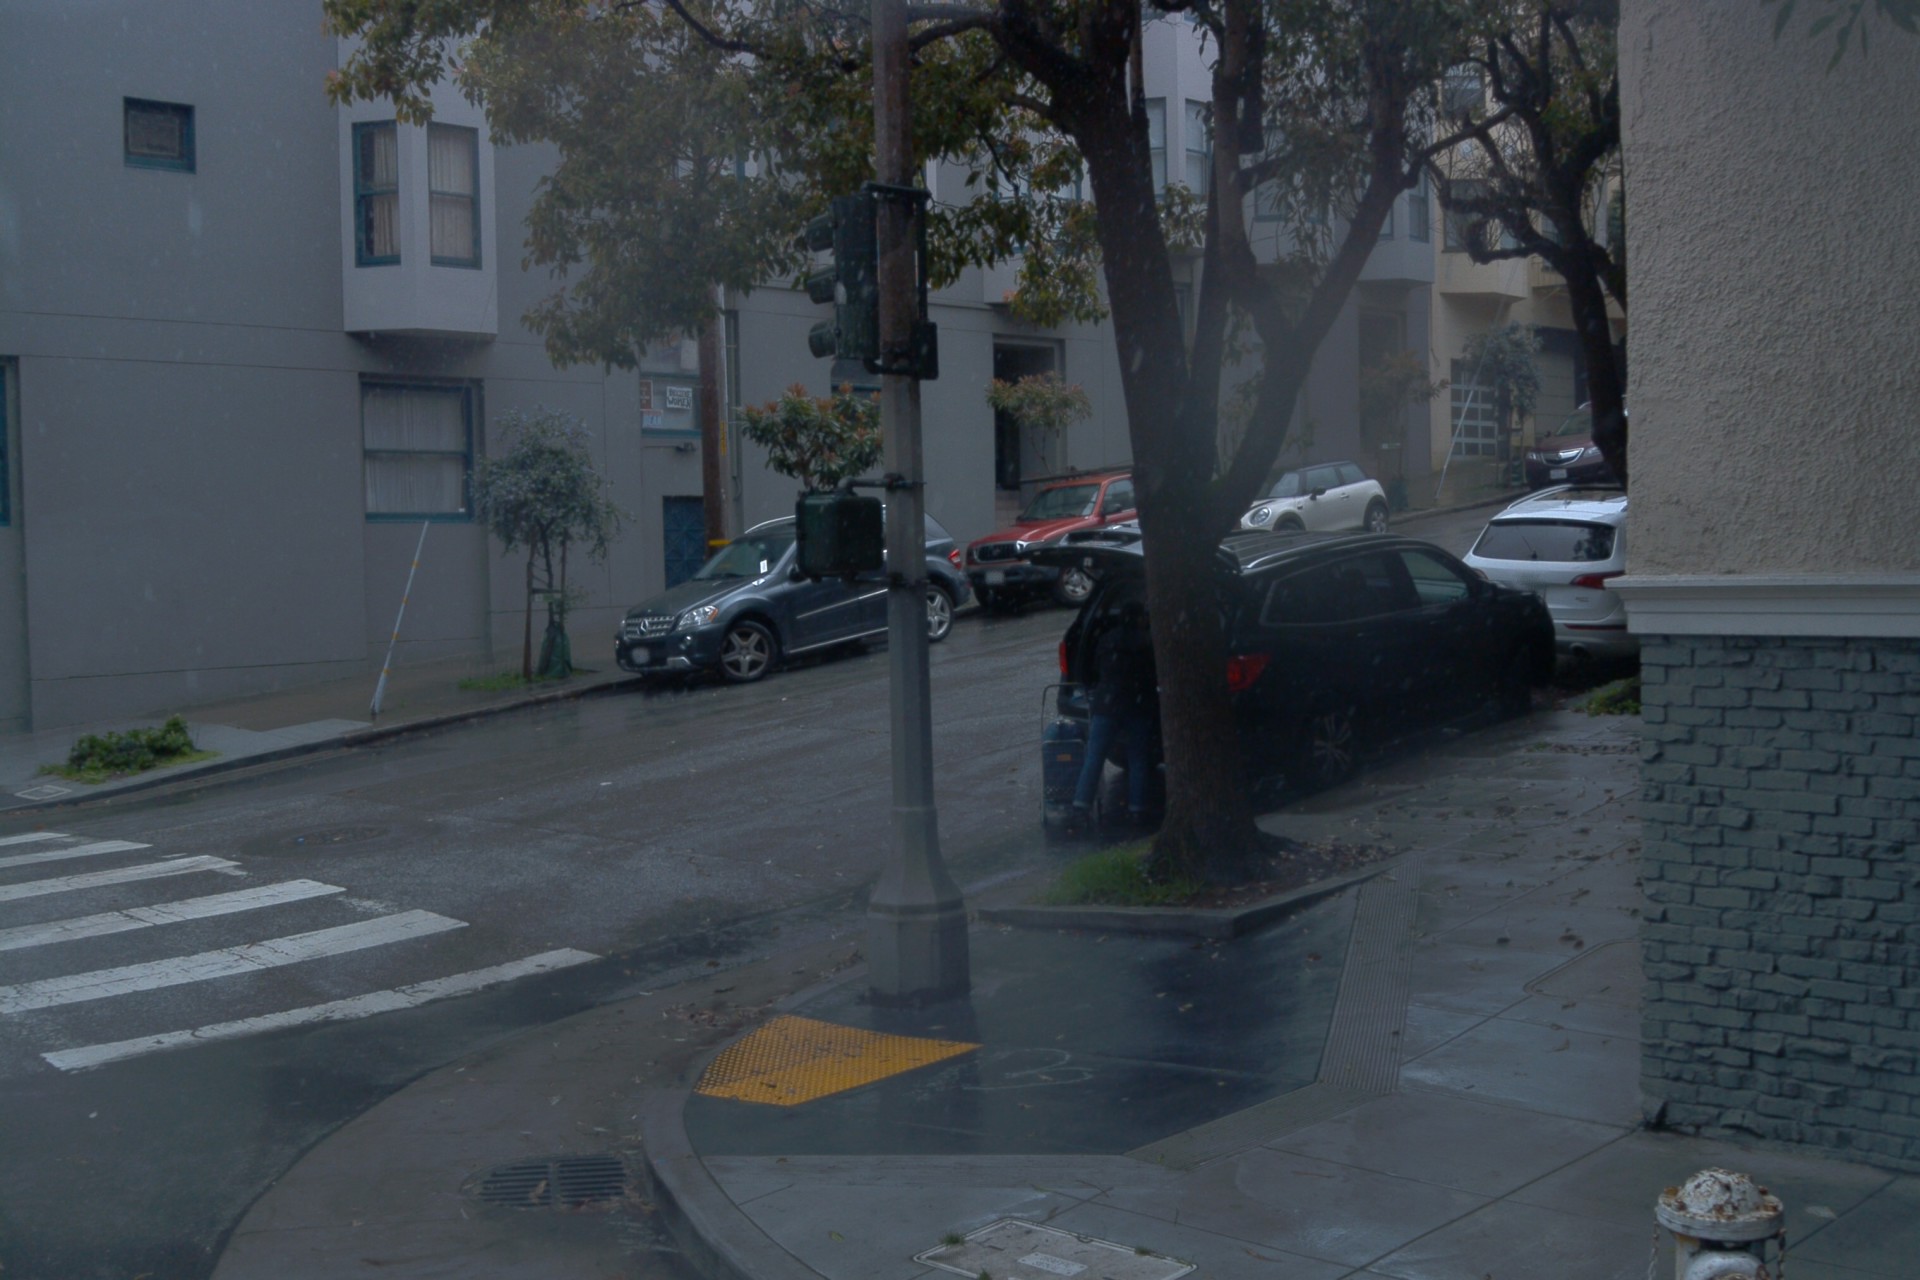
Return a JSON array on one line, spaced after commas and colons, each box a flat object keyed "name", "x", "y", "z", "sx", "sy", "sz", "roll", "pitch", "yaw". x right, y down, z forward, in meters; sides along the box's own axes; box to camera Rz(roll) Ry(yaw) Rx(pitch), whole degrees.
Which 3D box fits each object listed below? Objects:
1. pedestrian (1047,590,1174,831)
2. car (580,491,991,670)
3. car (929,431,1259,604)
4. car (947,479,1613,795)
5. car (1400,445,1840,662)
[{"name": "pedestrian", "x": 1.066, "y": 0.476, "z": 14.313, "sx": 0.793, "sy": 1.634, "sz": 0.885, "roll": 0, "pitch": 0, "yaw": 10}, {"name": "car", "x": -2.049, "y": -0.649, "z": 24.965, "sx": 2.225, "sy": 1.980, "sz": 4.671, "roll": 0, "pitch": 0, "yaw": 45}, {"name": "car", "x": 1.985, "y": -1.652, "z": 29.236, "sx": 4.537, "sy": 2.180, "sz": 2.259, "roll": 0, "pitch": 0, "yaw": -45}, {"name": "car", "x": 2.723, "y": -0.012, "z": 16.096, "sx": 2.384, "sy": 2.040, "sz": 5.680, "roll": 0, "pitch": 0, "yaw": 43}, {"name": "car", "x": 6.523, "y": -0.729, "z": 19.878, "sx": 2.355, "sy": 1.840, "sz": 4.675, "roll": 0, "pitch": 0, "yaw": 42}]
